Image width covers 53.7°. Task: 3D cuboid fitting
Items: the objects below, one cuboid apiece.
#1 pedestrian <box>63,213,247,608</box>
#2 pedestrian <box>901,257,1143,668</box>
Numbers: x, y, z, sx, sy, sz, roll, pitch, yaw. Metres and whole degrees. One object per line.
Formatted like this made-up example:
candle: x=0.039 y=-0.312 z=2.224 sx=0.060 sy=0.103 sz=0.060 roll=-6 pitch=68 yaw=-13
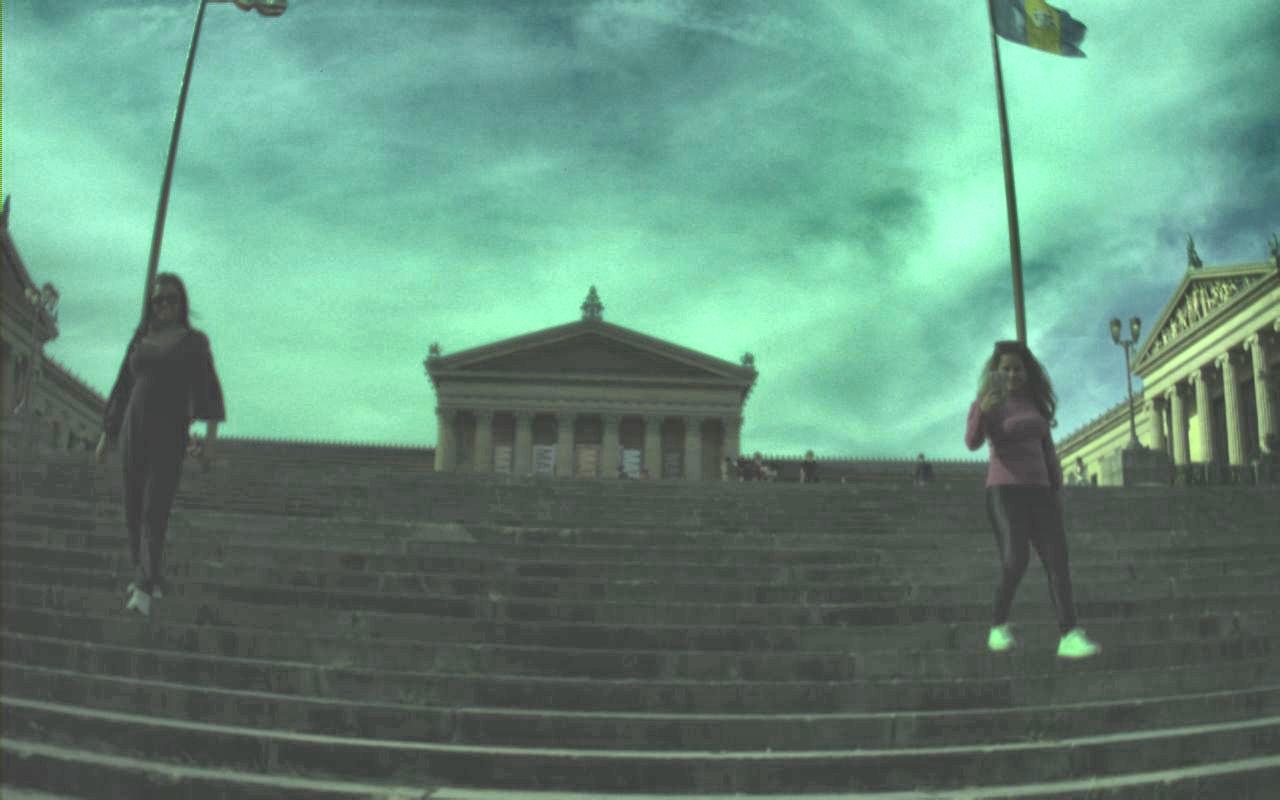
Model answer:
pedestrian: x=-2.380 y=0.049 z=5.750 sx=0.751 sy=1.803 sz=0.760 roll=0 pitch=0 yaw=-3
pedestrian: x=1.748 y=0.264 z=5.532 sx=0.776 sy=1.721 sz=0.795 roll=0 pitch=0 yaw=-25
